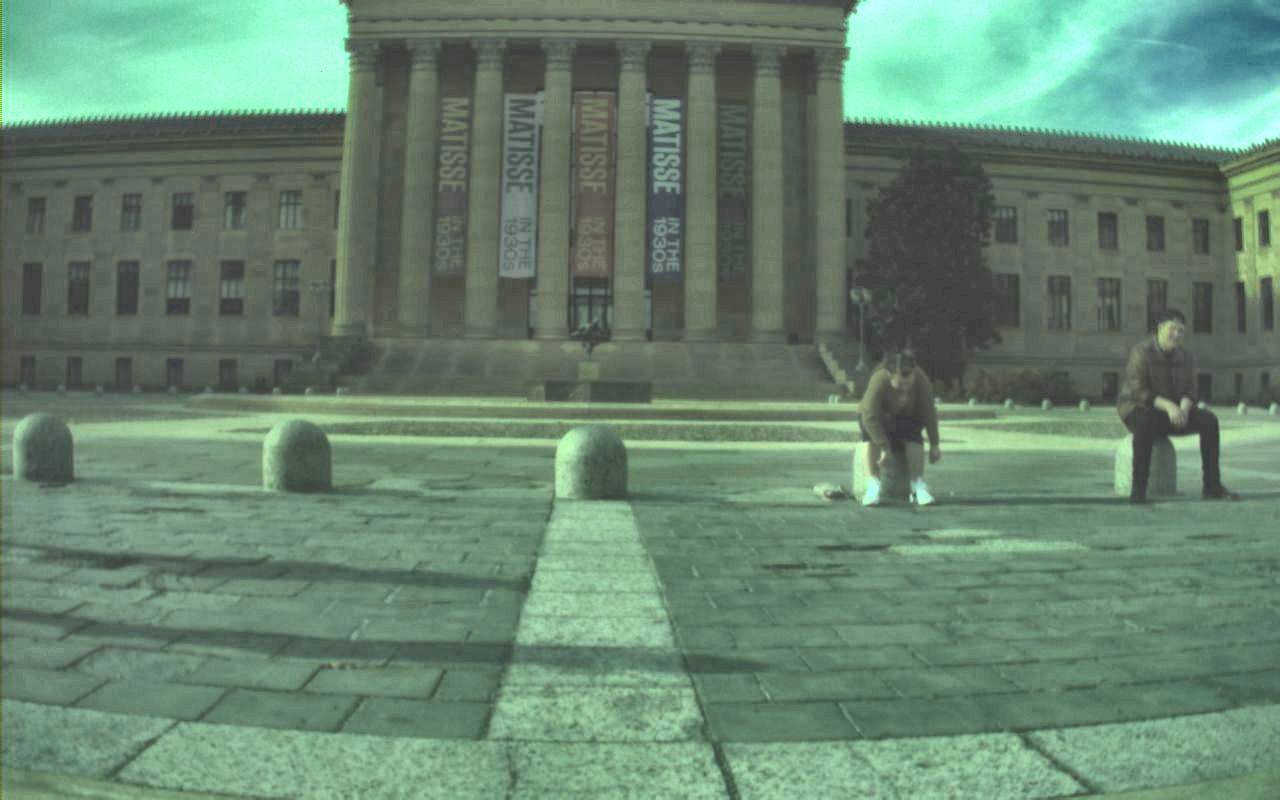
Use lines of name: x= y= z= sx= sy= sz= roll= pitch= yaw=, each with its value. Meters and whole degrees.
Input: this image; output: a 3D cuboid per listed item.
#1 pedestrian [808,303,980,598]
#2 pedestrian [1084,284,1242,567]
pedestrian: x=1.556 y=0.293 z=7.700 sx=0.832 sy=1.715 sz=0.845 roll=0 pitch=0 yaw=-7
pedestrian: x=3.503 y=0.173 z=7.859 sx=0.849 sy=1.789 sz=0.850 roll=0 pitch=0 yaw=2
